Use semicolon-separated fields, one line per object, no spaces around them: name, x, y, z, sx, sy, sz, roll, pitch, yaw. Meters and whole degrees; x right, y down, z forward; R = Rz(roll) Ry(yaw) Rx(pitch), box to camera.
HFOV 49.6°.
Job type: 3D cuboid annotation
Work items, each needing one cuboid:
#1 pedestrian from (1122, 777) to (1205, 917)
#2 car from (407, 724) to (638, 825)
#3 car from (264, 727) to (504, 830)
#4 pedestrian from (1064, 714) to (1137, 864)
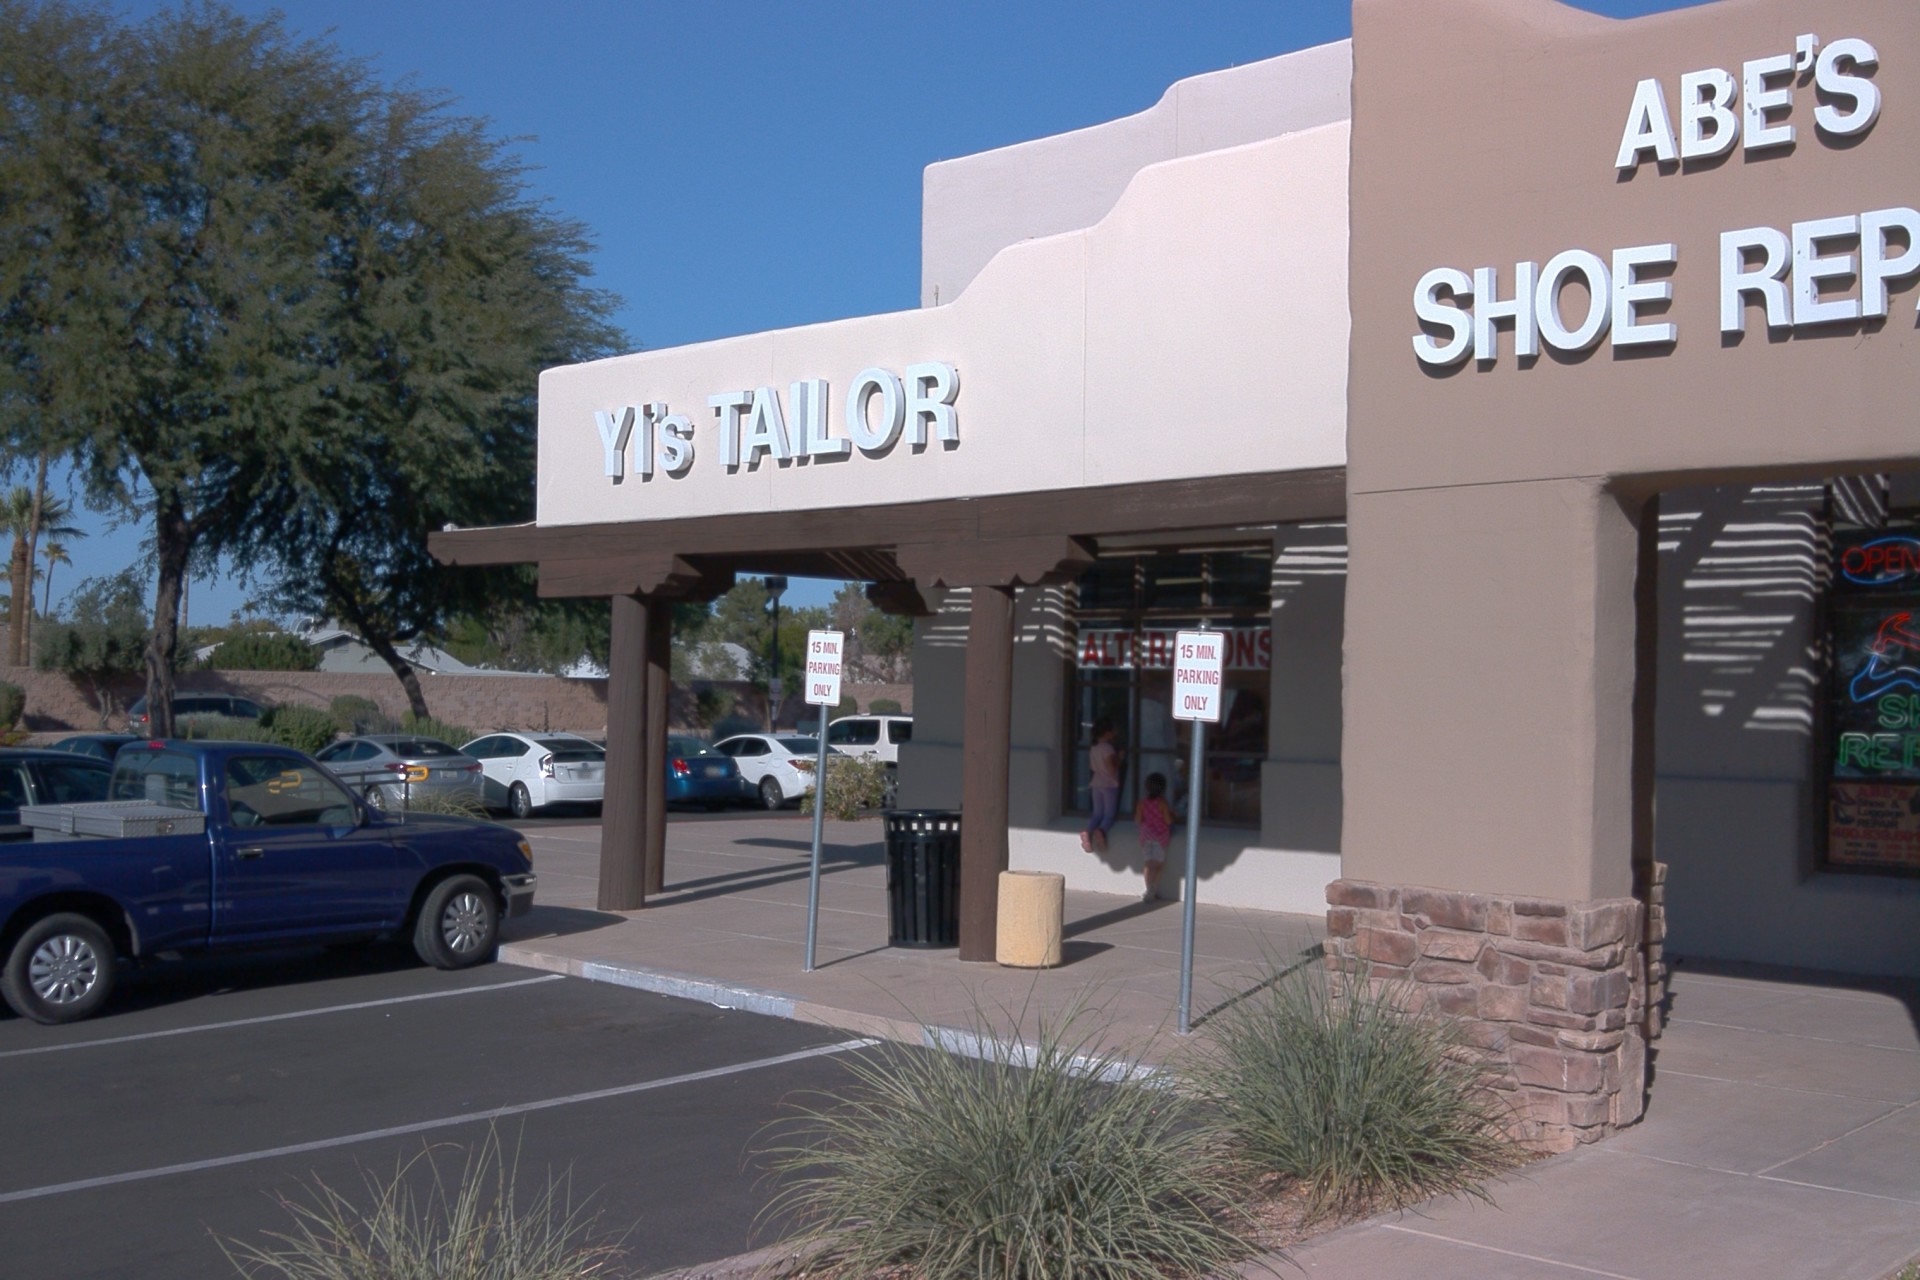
pedestrian;1.686;1.707;17.237;0.521;1.100;0.442;-1;0;-44
car;-7.992;2.394;37.725;4.539;1.580;1.893;-1;0;44
car;-10.050;2.347;36.078;4.665;1.520;1.915;-1;0;44
pedestrian;1.214;1.274;17.946;0.466;1.250;0.418;-1;0;-44
